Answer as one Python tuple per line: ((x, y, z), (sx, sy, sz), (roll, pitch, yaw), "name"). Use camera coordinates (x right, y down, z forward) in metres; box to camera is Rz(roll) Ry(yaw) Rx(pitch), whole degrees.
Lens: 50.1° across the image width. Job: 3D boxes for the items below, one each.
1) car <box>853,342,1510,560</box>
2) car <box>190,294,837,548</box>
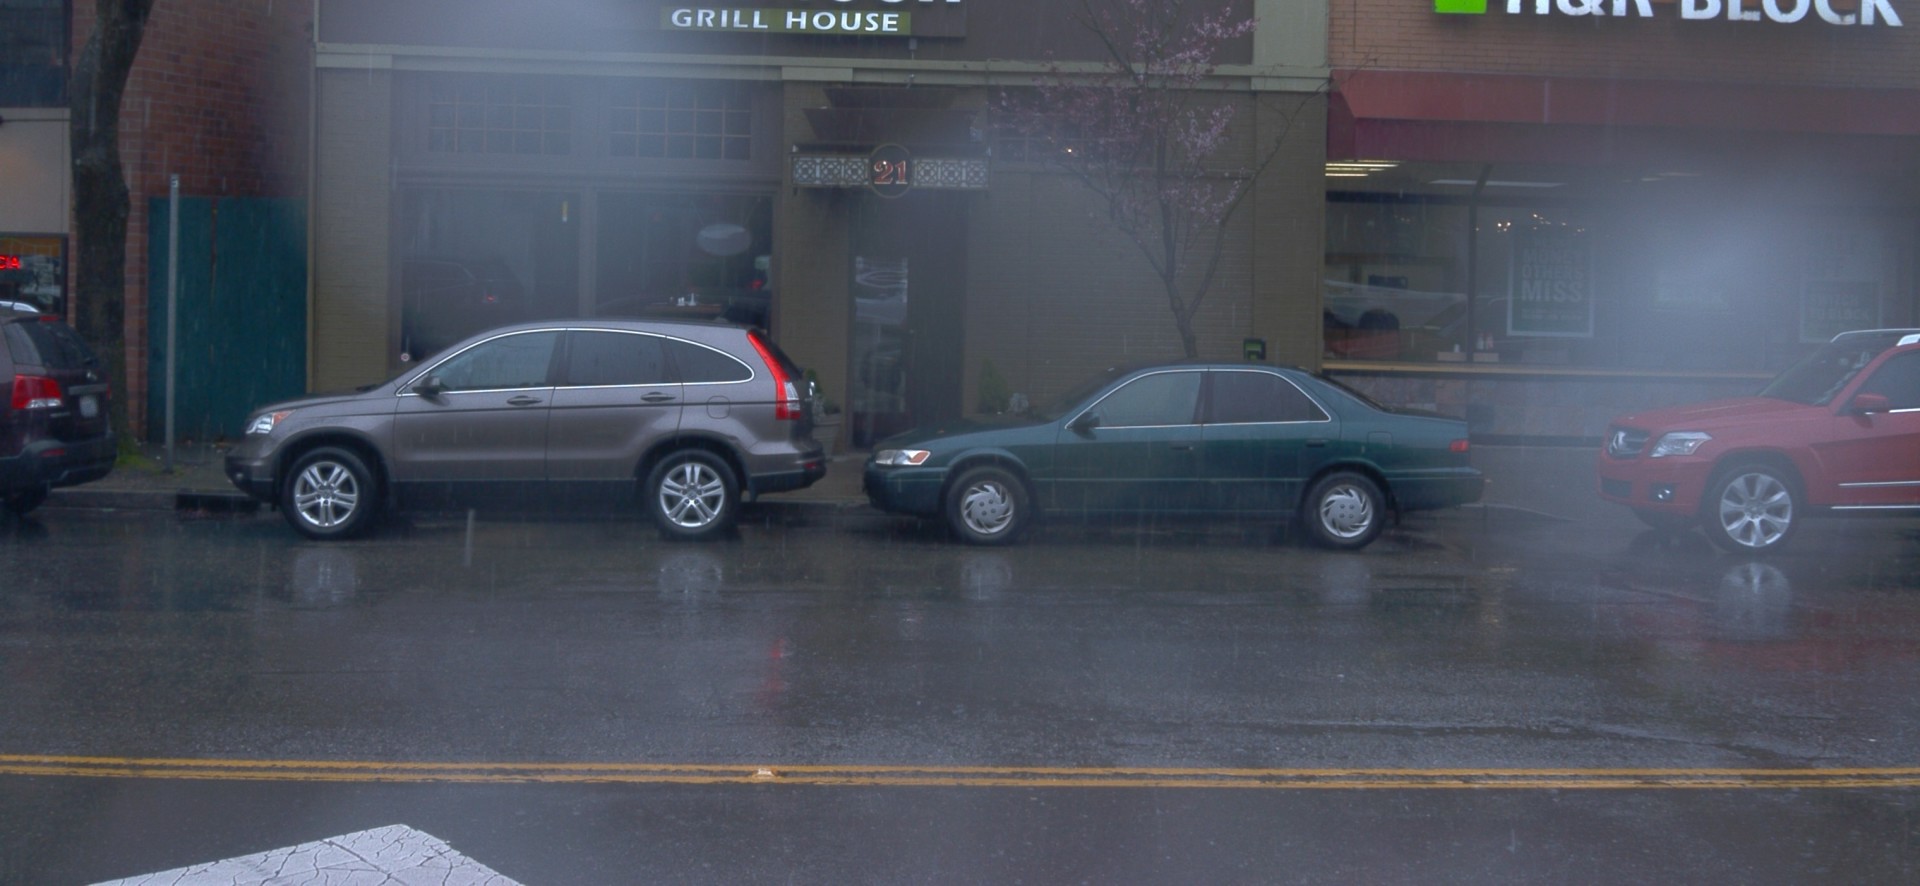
((1.593, 0.016, 15.965), (4.796, 1.414, 1.988), (1, 5, -2), "car")
((-3.281, -0.216, 15.797), (4.605, 1.724, 1.918), (0, 4, -5), "car")
